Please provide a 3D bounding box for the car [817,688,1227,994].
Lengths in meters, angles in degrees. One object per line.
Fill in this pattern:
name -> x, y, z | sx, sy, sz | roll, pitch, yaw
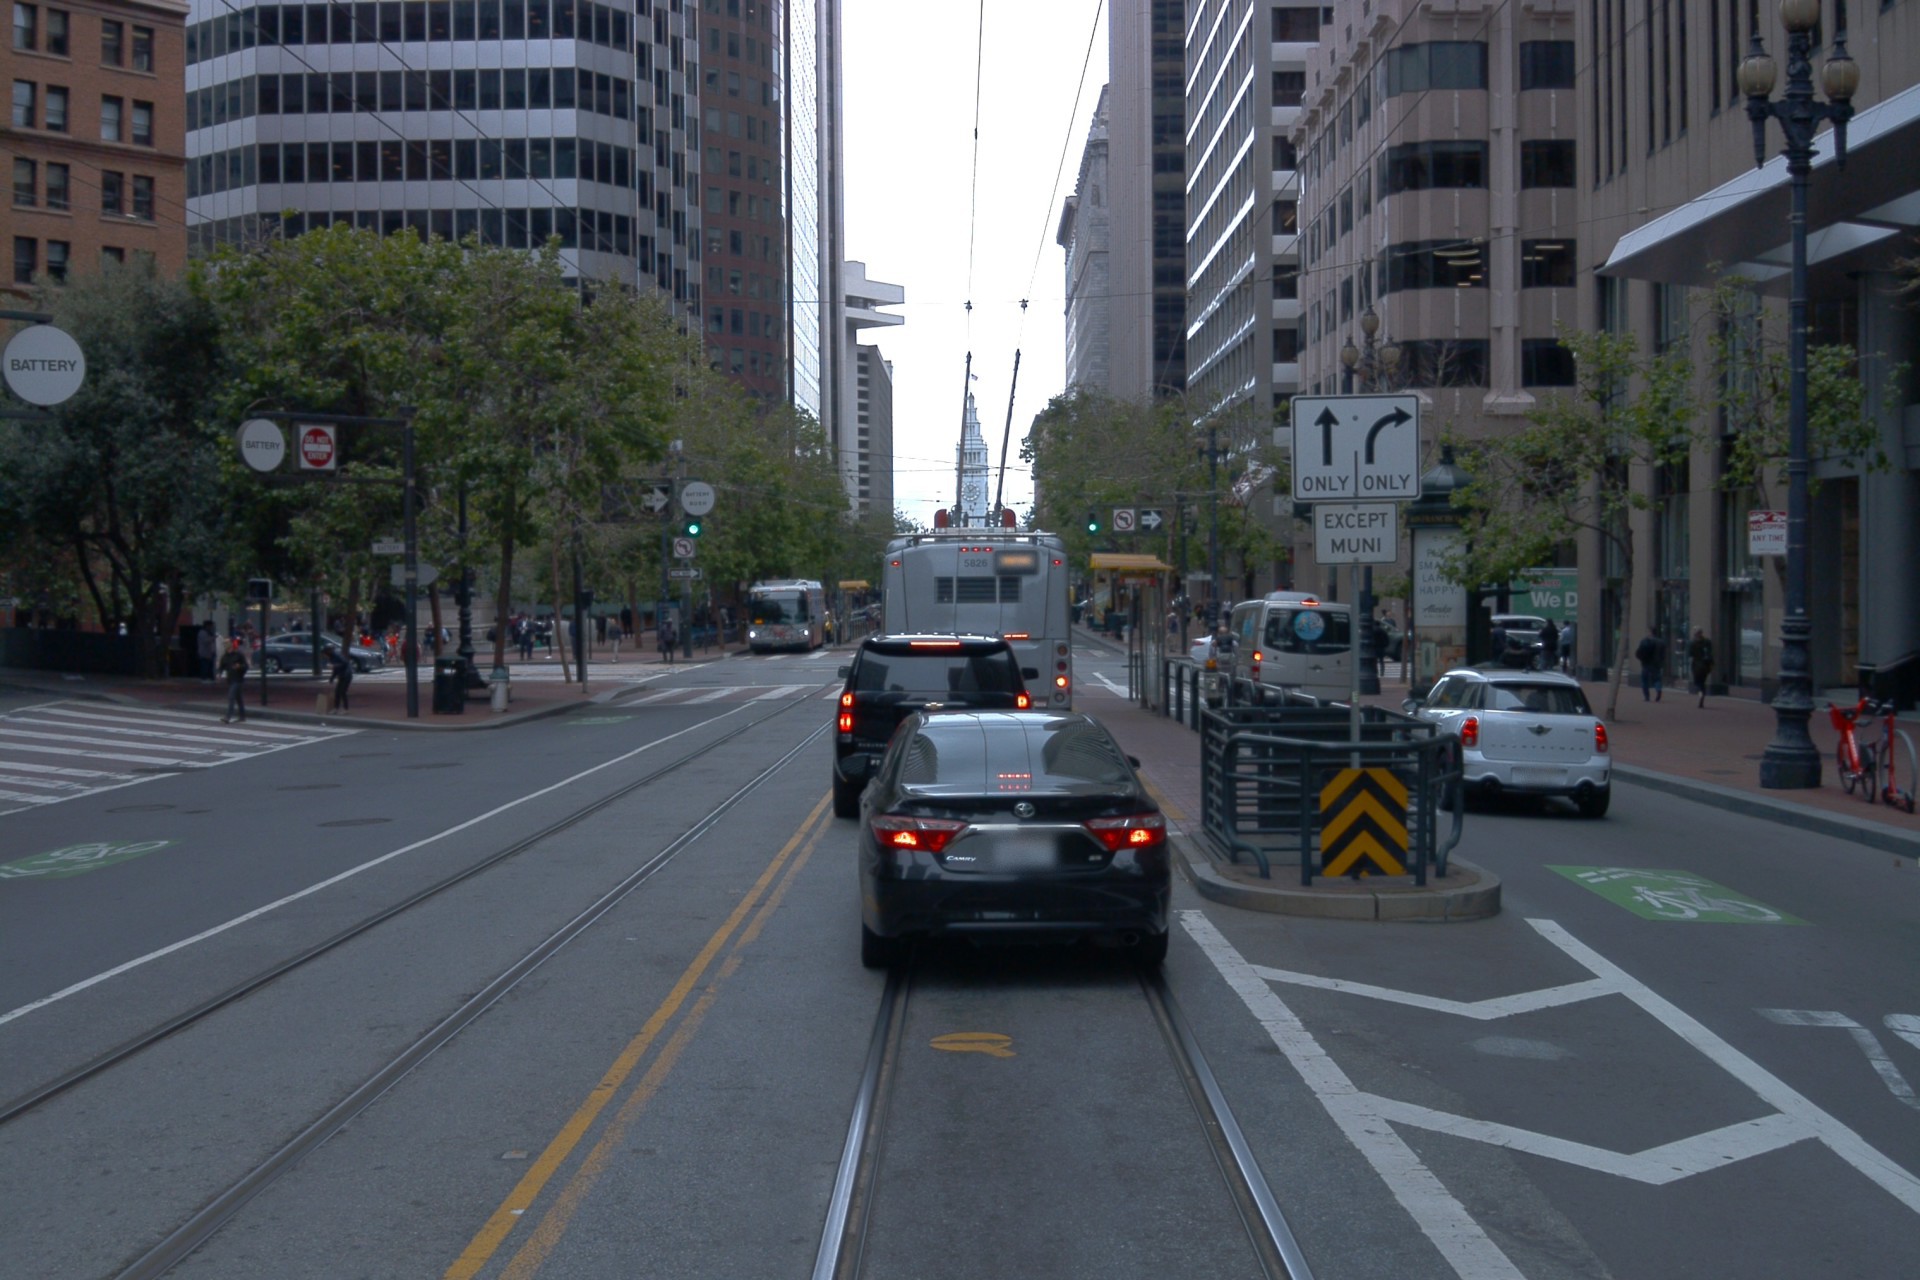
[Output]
car -> 0.228, 1.127, 13.405 | 2.188, 1.460, 4.687 | 0, 1, -3

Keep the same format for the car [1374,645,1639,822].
car -> 6.078, 0.982, 23.449 | 2.075, 1.784, 3.877 | 0, 1, 2

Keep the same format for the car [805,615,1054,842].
car -> -0.258, 0.801, 21.984 | 2.308, 2.100, 5.442 | 0, 1, 1

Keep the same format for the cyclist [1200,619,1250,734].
cyclist -> 4.493, 0.600, 35.077 | 0.638, 1.900, 1.439 | 0, 1, 0
